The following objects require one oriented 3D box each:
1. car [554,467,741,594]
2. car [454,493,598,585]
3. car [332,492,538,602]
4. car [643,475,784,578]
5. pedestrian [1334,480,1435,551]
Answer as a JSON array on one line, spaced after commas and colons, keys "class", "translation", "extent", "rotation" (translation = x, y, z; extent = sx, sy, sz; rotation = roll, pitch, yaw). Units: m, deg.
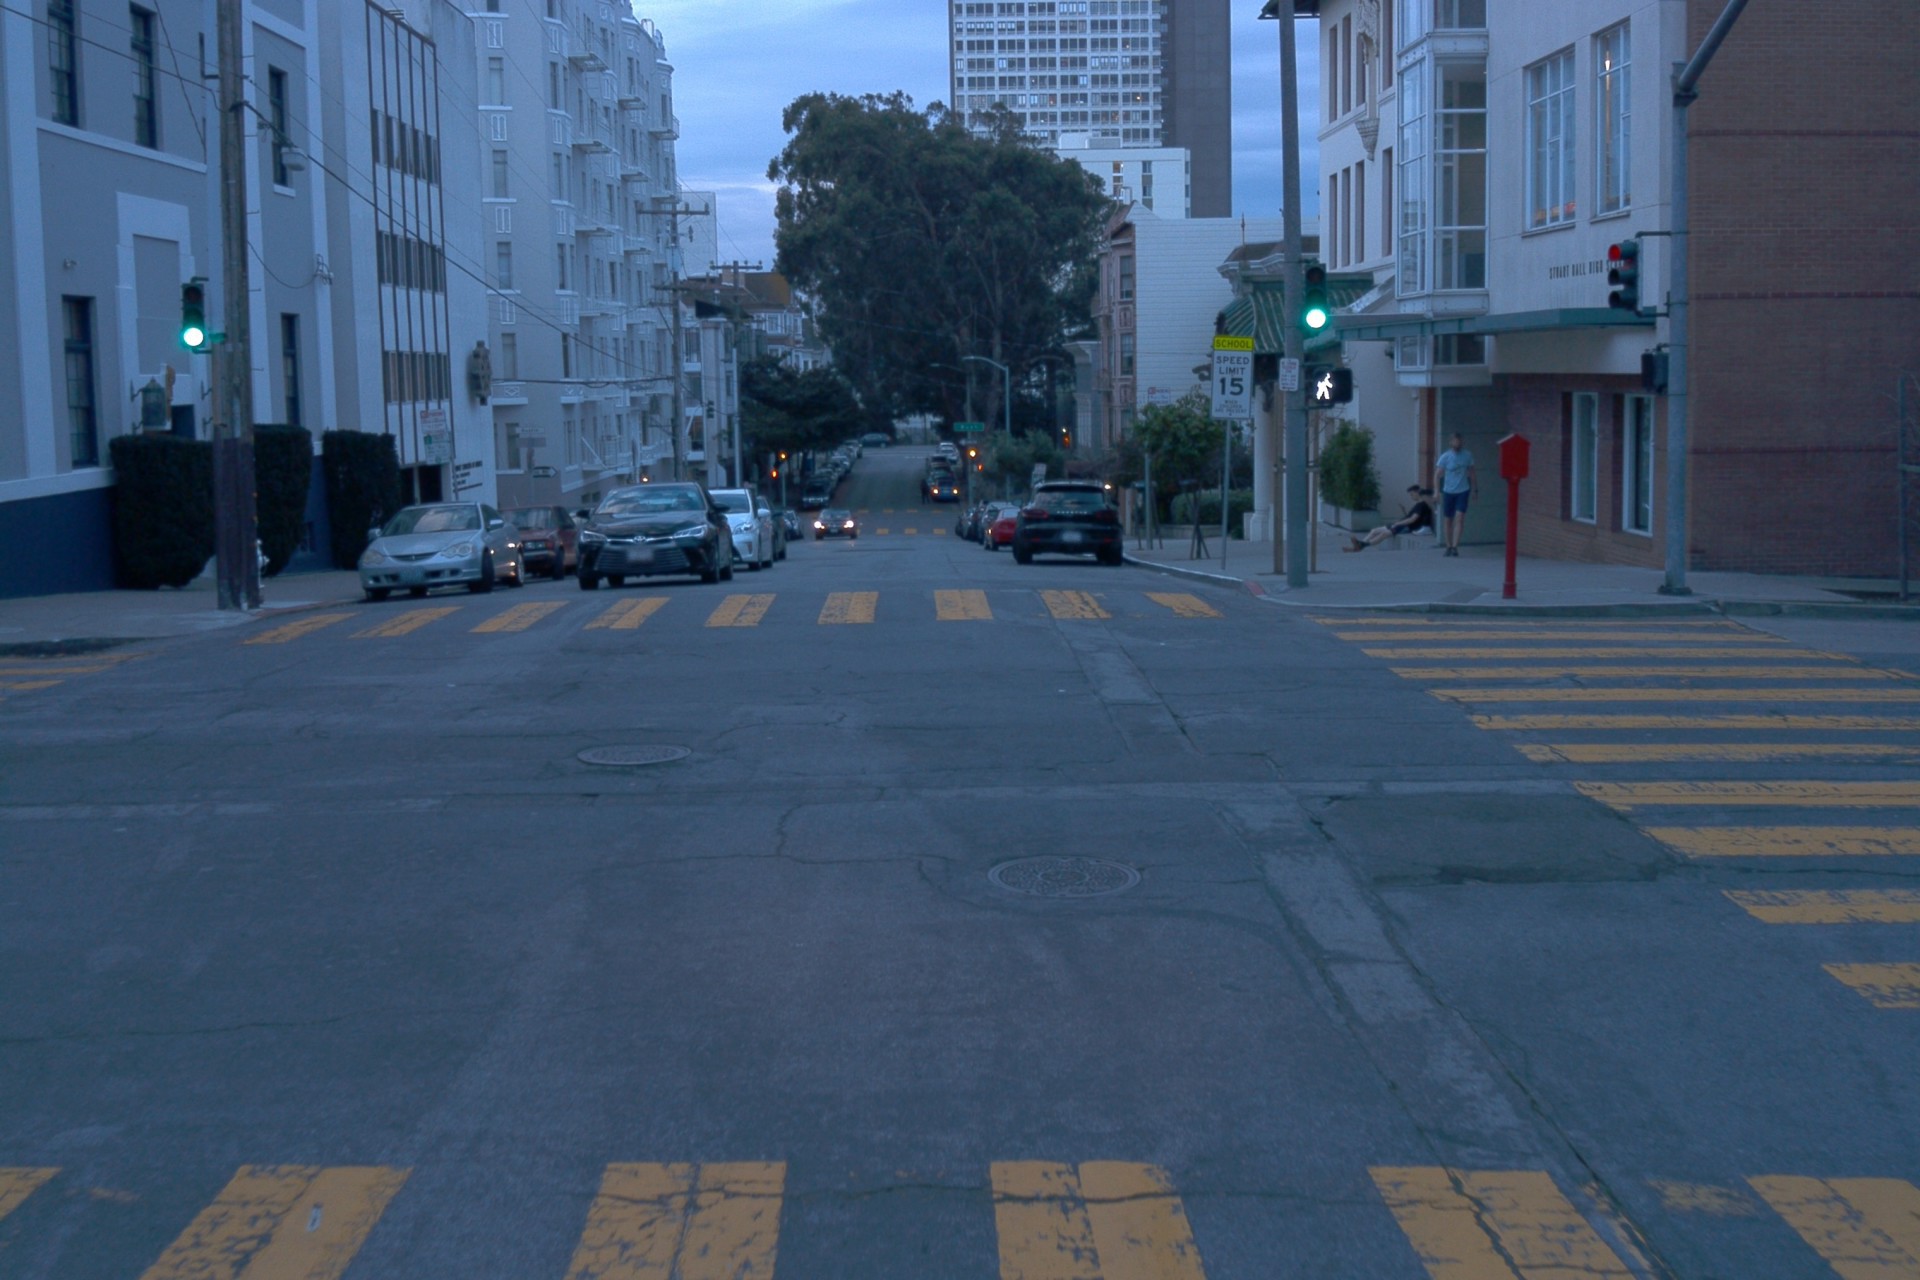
[{"class": "car", "translation": [-4.183, -1.429, 28.267], "extent": [2.144, 1.530, 4.749], "rotation": [1, 1, -4]}, {"class": "car", "translation": [-7.738, -1.765, 37.002], "extent": [1.773, 1.480, 4.408], "rotation": [1, 1, -2]}, {"class": "car", "translation": [-7.578, -1.302, 30.125], "extent": [1.992, 1.450, 4.399], "rotation": [1, 1, -2]}, {"class": "car", "translation": [-4.265, -1.944, 36.189], "extent": [2.034, 1.600, 4.431], "rotation": [1, 1, -1]}, {"class": "pedestrian", "translation": [7.573, -2.222, 36.777], "extent": [1.524, 1.200, 1.090], "rotation": [1, 1, -2]}]
